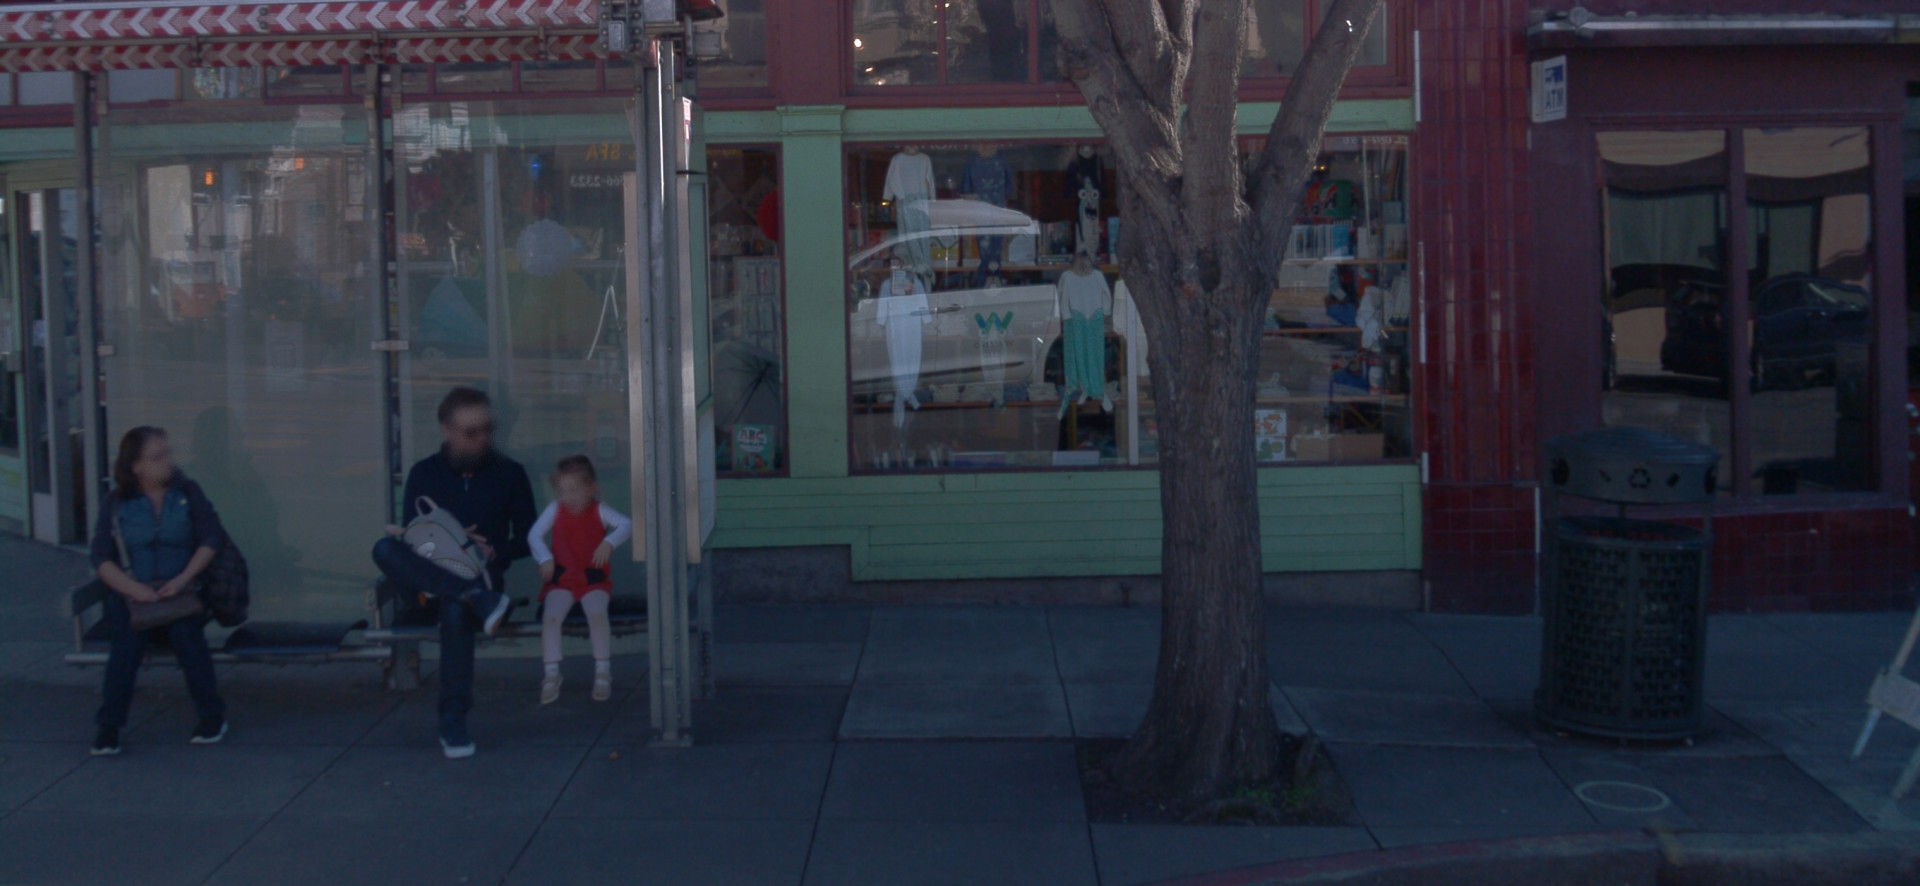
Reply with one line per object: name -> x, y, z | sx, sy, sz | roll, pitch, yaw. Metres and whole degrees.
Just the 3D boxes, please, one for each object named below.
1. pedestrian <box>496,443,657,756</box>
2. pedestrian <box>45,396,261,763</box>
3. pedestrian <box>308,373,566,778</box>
pedestrian -> -1.471, 0.583, 7.981 | 0.528, 1.098, 0.572 | 0, 2, -3
pedestrian -> -3.126, 0.489, 8.060 | 0.737, 1.258, 0.794 | -1, 2, -19
pedestrian -> -1.989, 0.468, 7.974 | 0.753, 1.398, 0.926 | 0, 2, 0
